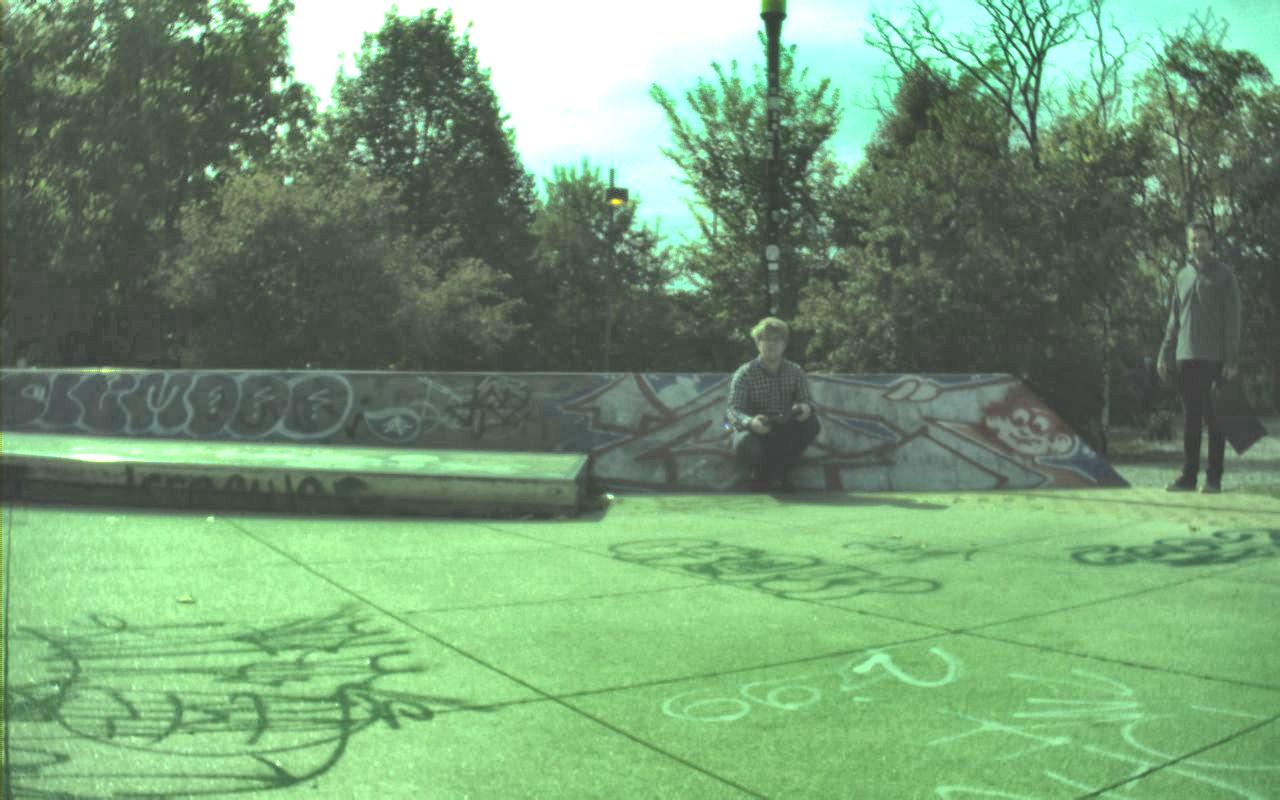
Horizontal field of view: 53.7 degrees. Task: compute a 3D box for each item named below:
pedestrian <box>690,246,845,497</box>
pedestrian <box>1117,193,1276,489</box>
[{"bbox_3d":[0.836,-0.182,8.060,0.830,1.517,0.797,1,0,18],"label":"pedestrian"},{"bbox_3d":[3.581,-0.351,7.407,0.812,1.774,0.820,0,0,-38],"label":"pedestrian"}]
